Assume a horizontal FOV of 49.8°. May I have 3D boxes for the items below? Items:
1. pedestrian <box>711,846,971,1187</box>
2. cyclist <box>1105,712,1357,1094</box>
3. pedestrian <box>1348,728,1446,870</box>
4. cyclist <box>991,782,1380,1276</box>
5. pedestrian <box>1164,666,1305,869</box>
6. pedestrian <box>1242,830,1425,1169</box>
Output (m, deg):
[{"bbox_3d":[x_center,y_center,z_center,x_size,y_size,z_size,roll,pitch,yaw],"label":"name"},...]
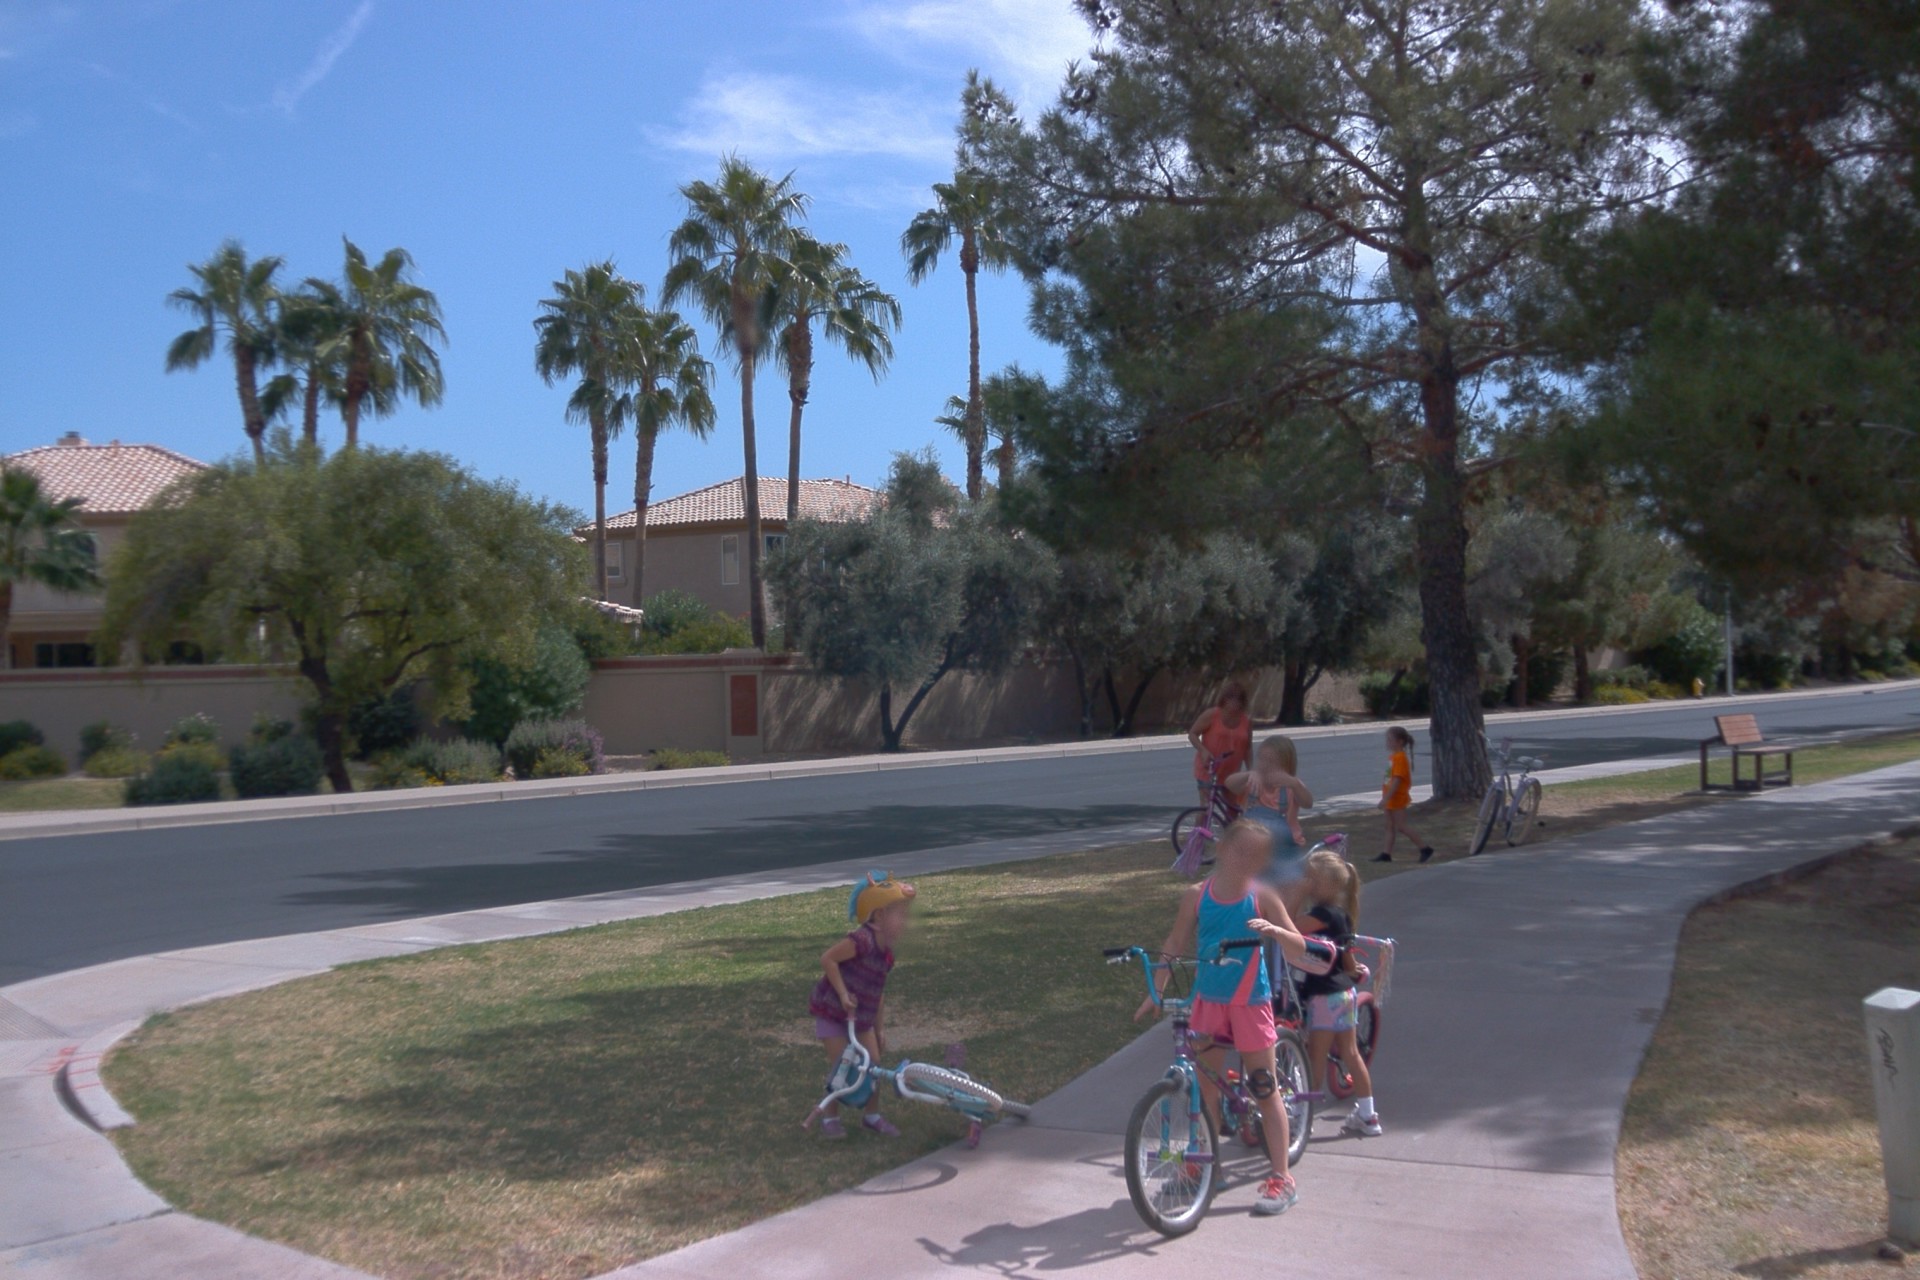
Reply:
[{"bbox_3d":[-0.470,1.453,8.223,0.736,1.180,0.716,0,-1,39],"label":"pedestrian"},{"bbox_3d":[1.320,1.147,9.736,0.929,1.570,1.767,0,-1,16],"label":"cyclist"},{"bbox_3d":[3.768,1.361,17.878,0.596,1.180,0.734,0,-1,-10],"label":"pedestrian"},{"bbox_3d":[0.820,1.246,7.160,0.728,1.420,1.494,0,-1,34],"label":"cyclist"},{"bbox_3d":[2.422,1.087,18.187,0.901,1.720,1.030,0,-1,30],"label":"pedestrian"},{"bbox_3d":[1.439,1.350,7.954,0.522,1.180,0.548,0,-1,33],"label":"pedestrian"}]
